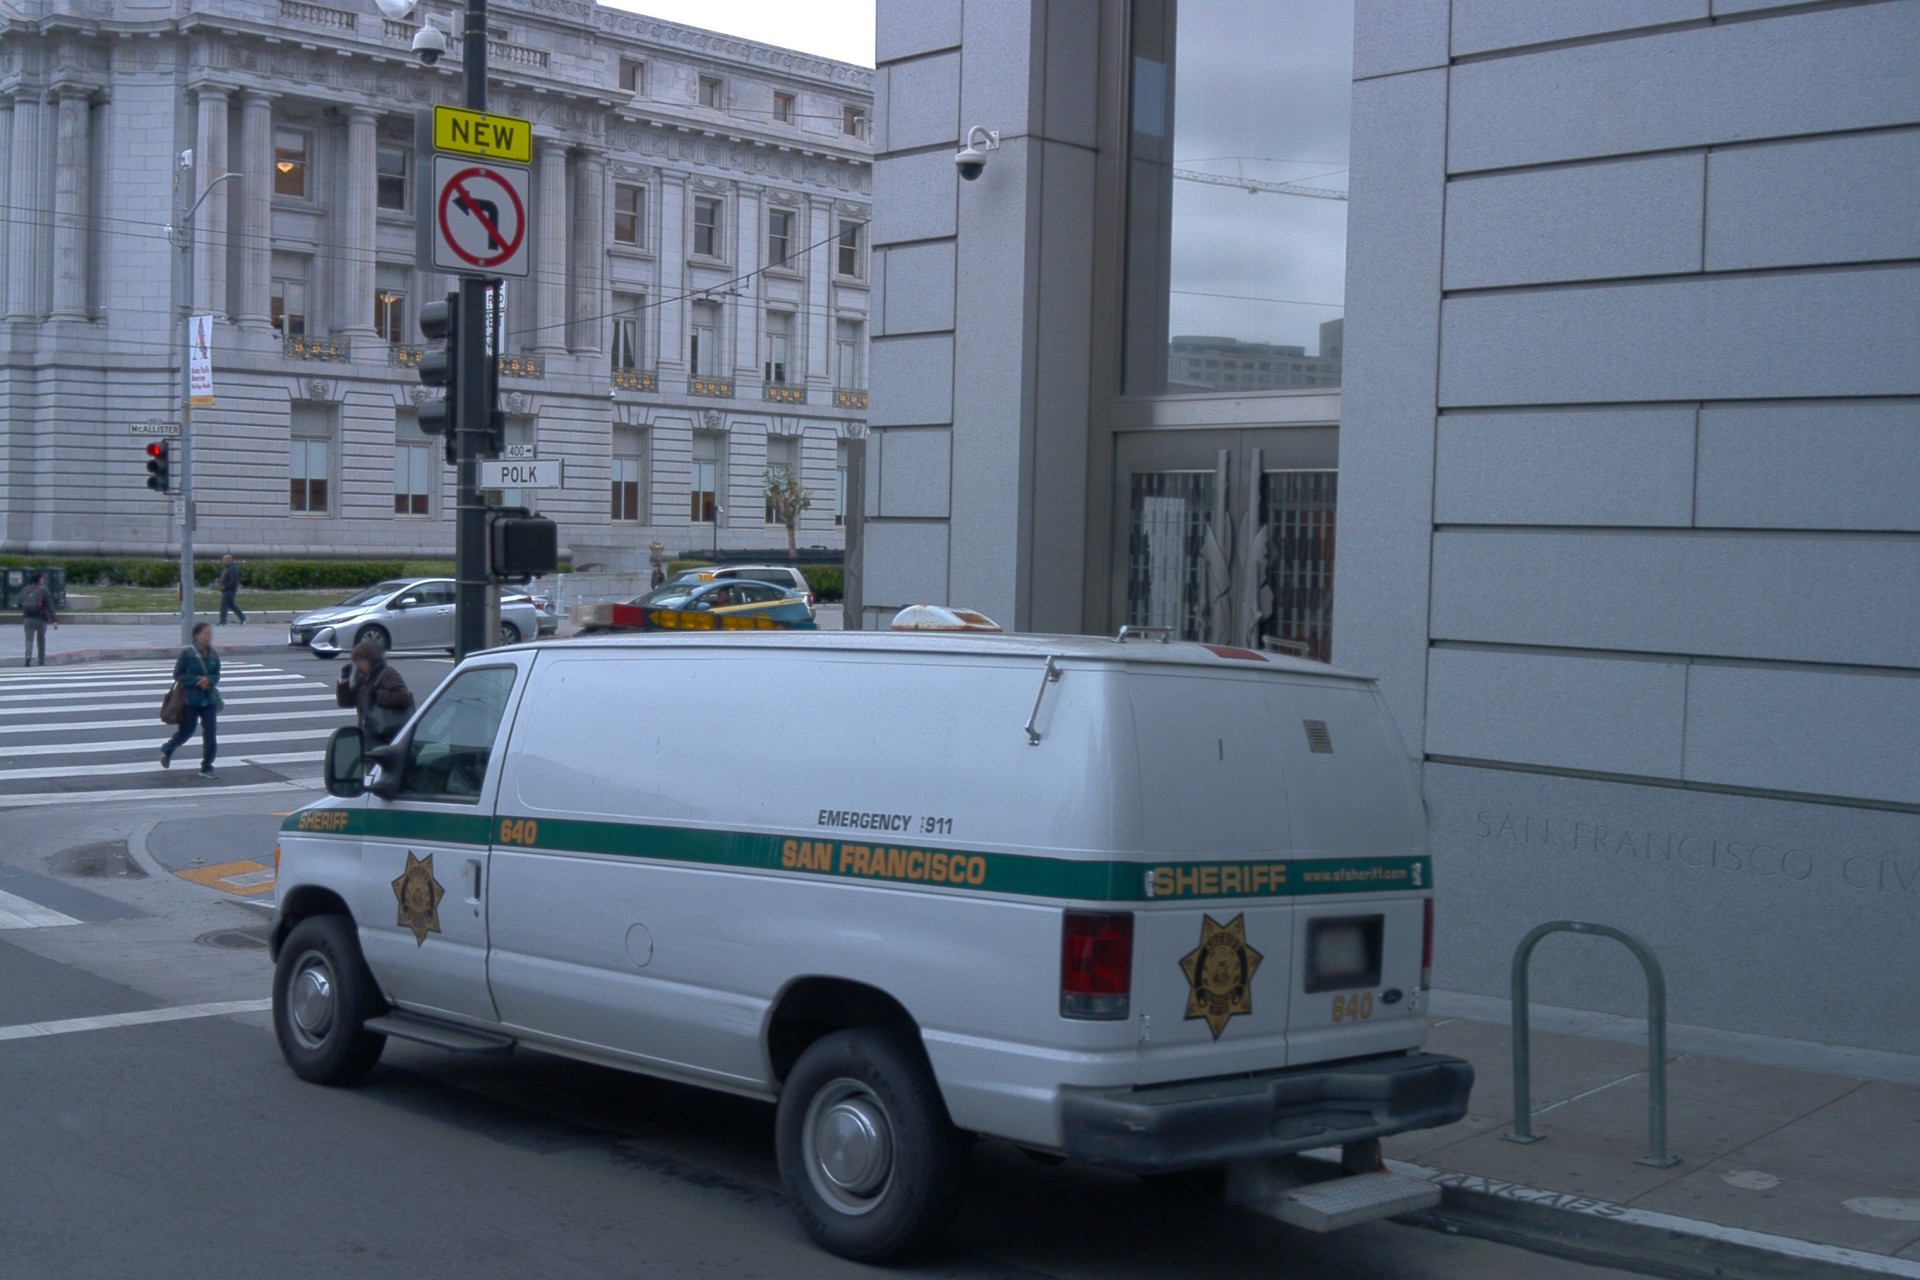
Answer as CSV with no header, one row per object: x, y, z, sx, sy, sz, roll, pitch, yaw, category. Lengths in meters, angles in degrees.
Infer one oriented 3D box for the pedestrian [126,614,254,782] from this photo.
-7.984,0.573,21.412,1.005,1.690,0.861,1,1,41,pedestrian

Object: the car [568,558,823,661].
-4.835,-0.555,38.172,2.040,1.787,4.328,1,1,44,car

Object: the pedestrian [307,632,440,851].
-4.729,0.793,16.658,0.804,1.710,0.666,0,1,35,pedestrian

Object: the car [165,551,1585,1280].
-0.728,0.900,8.504,5.776,2.330,2.576,0,1,44,car
